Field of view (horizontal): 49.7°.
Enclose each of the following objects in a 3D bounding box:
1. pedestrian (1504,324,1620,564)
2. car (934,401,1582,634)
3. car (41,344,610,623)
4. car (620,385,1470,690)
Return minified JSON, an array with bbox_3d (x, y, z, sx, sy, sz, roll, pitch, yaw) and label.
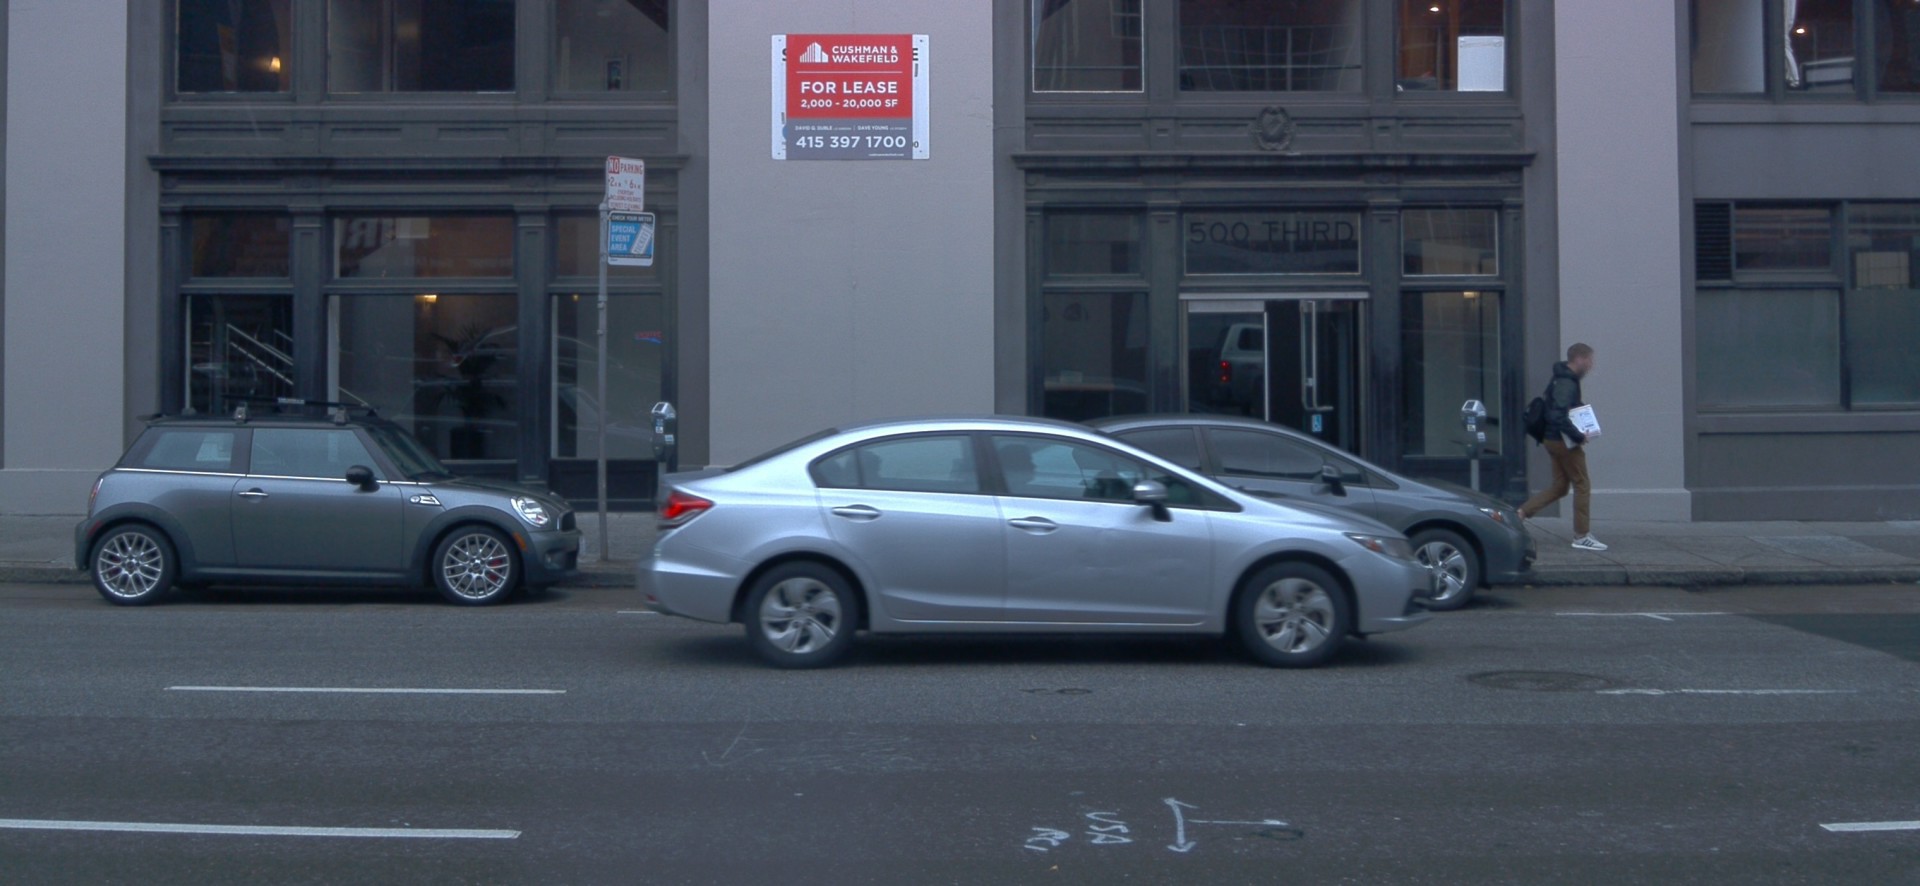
[{"bbox_3d":[5.311,-0.023,18.271,0.954,1.990,0.924,1,1,17],"label":"pedestrian"},{"bbox_3d":[2.132,0.509,15.851,4.616,1.477,2.025,0,4,-2],"label":"car"},{"bbox_3d":[-4.704,0.240,15.836,3.807,1.877,1.865,0,3,-3],"label":"car"},{"bbox_3d":[0.452,0.485,12.401,4.668,1.496,2.062,0,4,-2],"label":"car"}]
